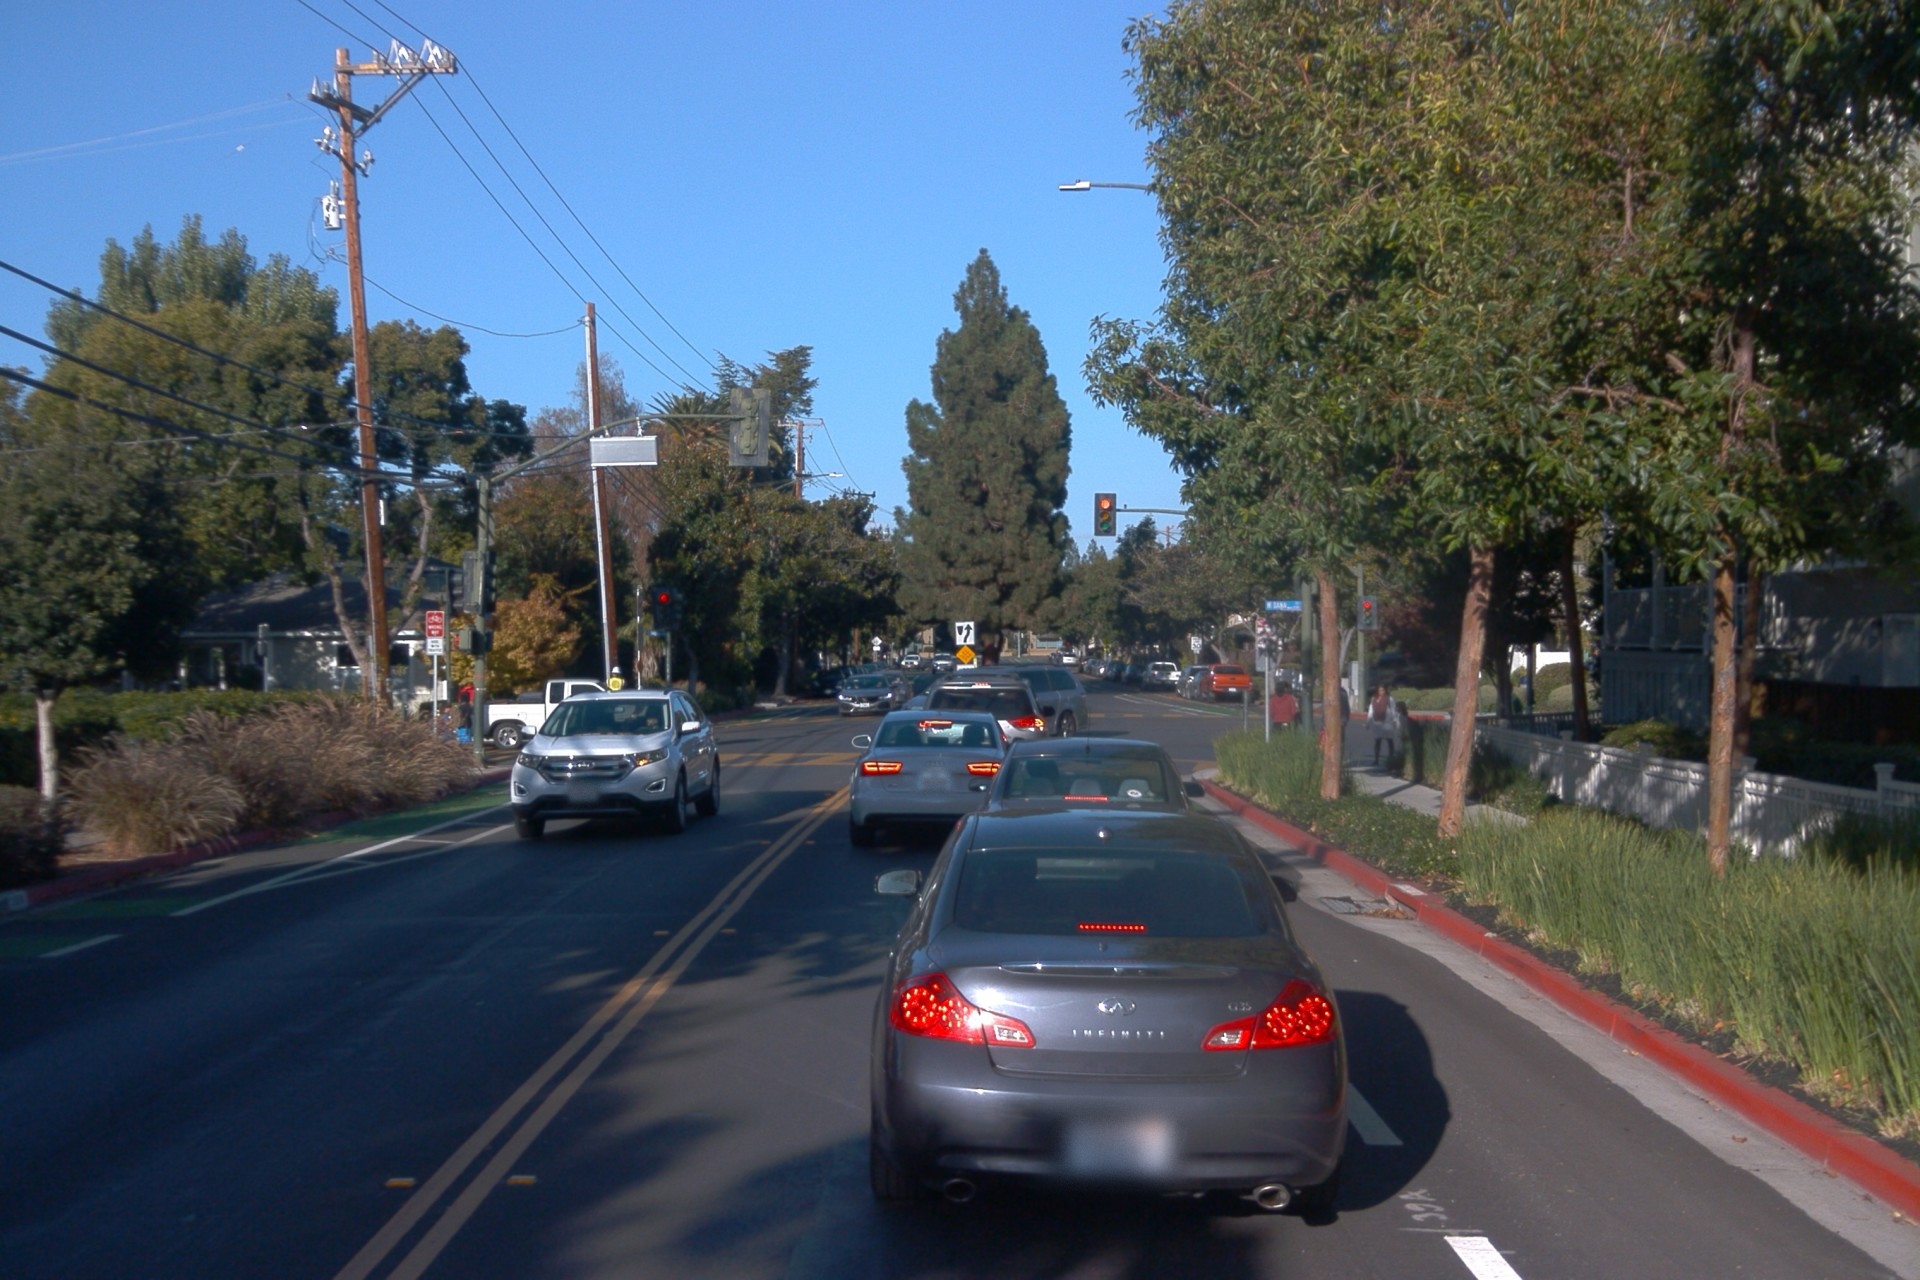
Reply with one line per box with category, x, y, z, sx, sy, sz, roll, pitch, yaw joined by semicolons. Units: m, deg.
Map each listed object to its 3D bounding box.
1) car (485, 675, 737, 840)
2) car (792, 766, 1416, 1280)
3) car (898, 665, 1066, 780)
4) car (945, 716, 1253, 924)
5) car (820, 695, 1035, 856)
car;-4.165;1.359;25.653;2.214;1.740;4.805;1;0;1
car;0.567;1.428;9.064;2.033;1.460;4.435;1;0;3
car;0.357;1.177;31.289;2.317;1.510;4.744;1;0;1
car;0.993;1.272;15.845;2.028;1.210;4.035;1;0;2
car;-0.260;1.448;23.532;2.122;1.500;4.397;1;0;3
